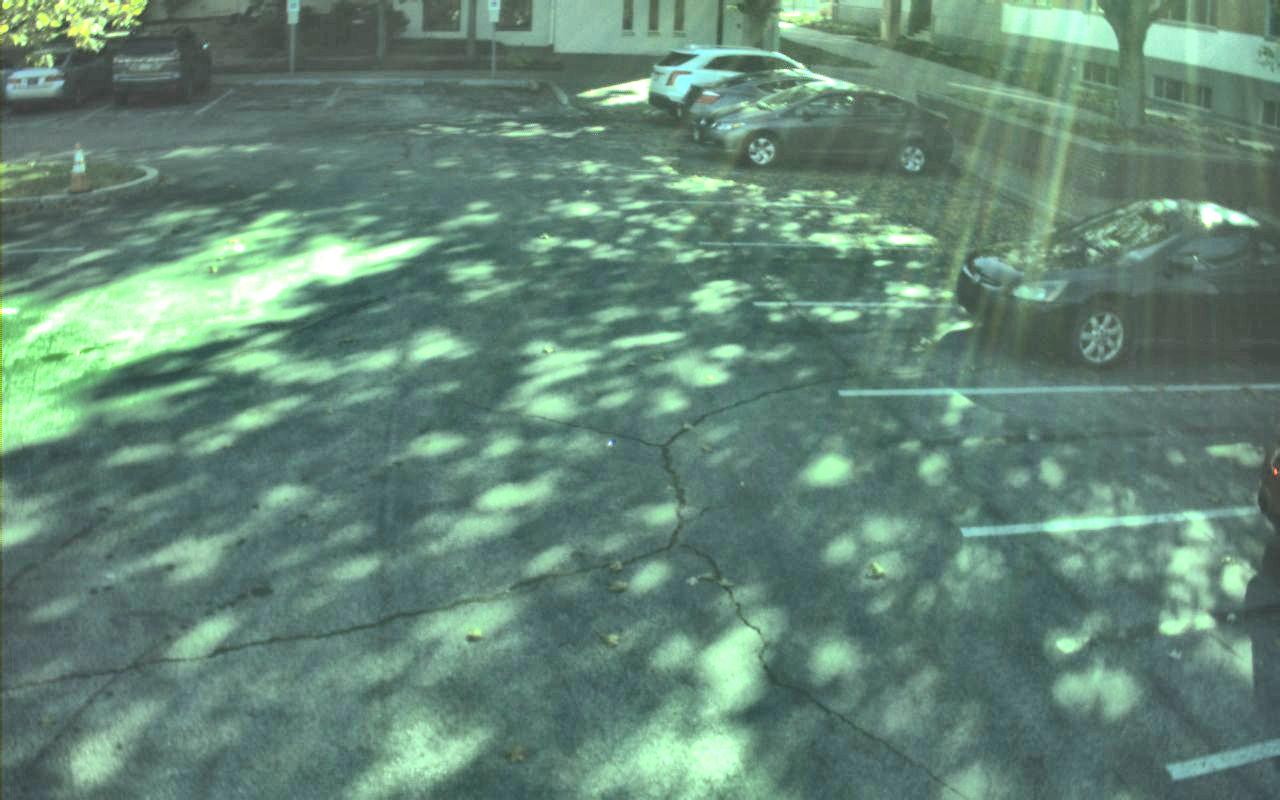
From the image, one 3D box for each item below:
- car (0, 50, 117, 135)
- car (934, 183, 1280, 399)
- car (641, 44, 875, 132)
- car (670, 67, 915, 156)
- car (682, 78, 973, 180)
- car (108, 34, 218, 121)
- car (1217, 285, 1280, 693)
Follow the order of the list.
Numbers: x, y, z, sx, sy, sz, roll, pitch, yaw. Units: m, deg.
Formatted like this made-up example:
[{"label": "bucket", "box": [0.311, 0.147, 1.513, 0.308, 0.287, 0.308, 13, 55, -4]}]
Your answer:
[{"label": "car", "box": [-14.172, -7.465, 27.049, 1.965, 1.642, 4.505, -4, 17, -9]}, {"label": "car", "box": [5.297, -1.193, 11.495, 4.544, 1.592, 1.981, -4, 16, -9]}, {"label": "car", "box": [2.453, -6.551, 25.752, 4.503, 1.706, 1.973, -5, 17, -13]}, {"label": "car", "box": [2.867, -5.524, 23.430, 4.307, 1.536, 1.921, -4, 17, -9]}, {"label": "car", "box": [3.195, -4.717, 21.191, 4.671, 1.571, 1.993, -4, 16, -9]}, {"label": "car", "box": [-11.437, -7.780, 27.756, 2.014, 1.759, 4.655, -4, 17, -11]}, {"label": "car", "box": [6.132, 0.382, 6.727, 4.477, 1.667, 1.962, -4, 17, -11]}]
